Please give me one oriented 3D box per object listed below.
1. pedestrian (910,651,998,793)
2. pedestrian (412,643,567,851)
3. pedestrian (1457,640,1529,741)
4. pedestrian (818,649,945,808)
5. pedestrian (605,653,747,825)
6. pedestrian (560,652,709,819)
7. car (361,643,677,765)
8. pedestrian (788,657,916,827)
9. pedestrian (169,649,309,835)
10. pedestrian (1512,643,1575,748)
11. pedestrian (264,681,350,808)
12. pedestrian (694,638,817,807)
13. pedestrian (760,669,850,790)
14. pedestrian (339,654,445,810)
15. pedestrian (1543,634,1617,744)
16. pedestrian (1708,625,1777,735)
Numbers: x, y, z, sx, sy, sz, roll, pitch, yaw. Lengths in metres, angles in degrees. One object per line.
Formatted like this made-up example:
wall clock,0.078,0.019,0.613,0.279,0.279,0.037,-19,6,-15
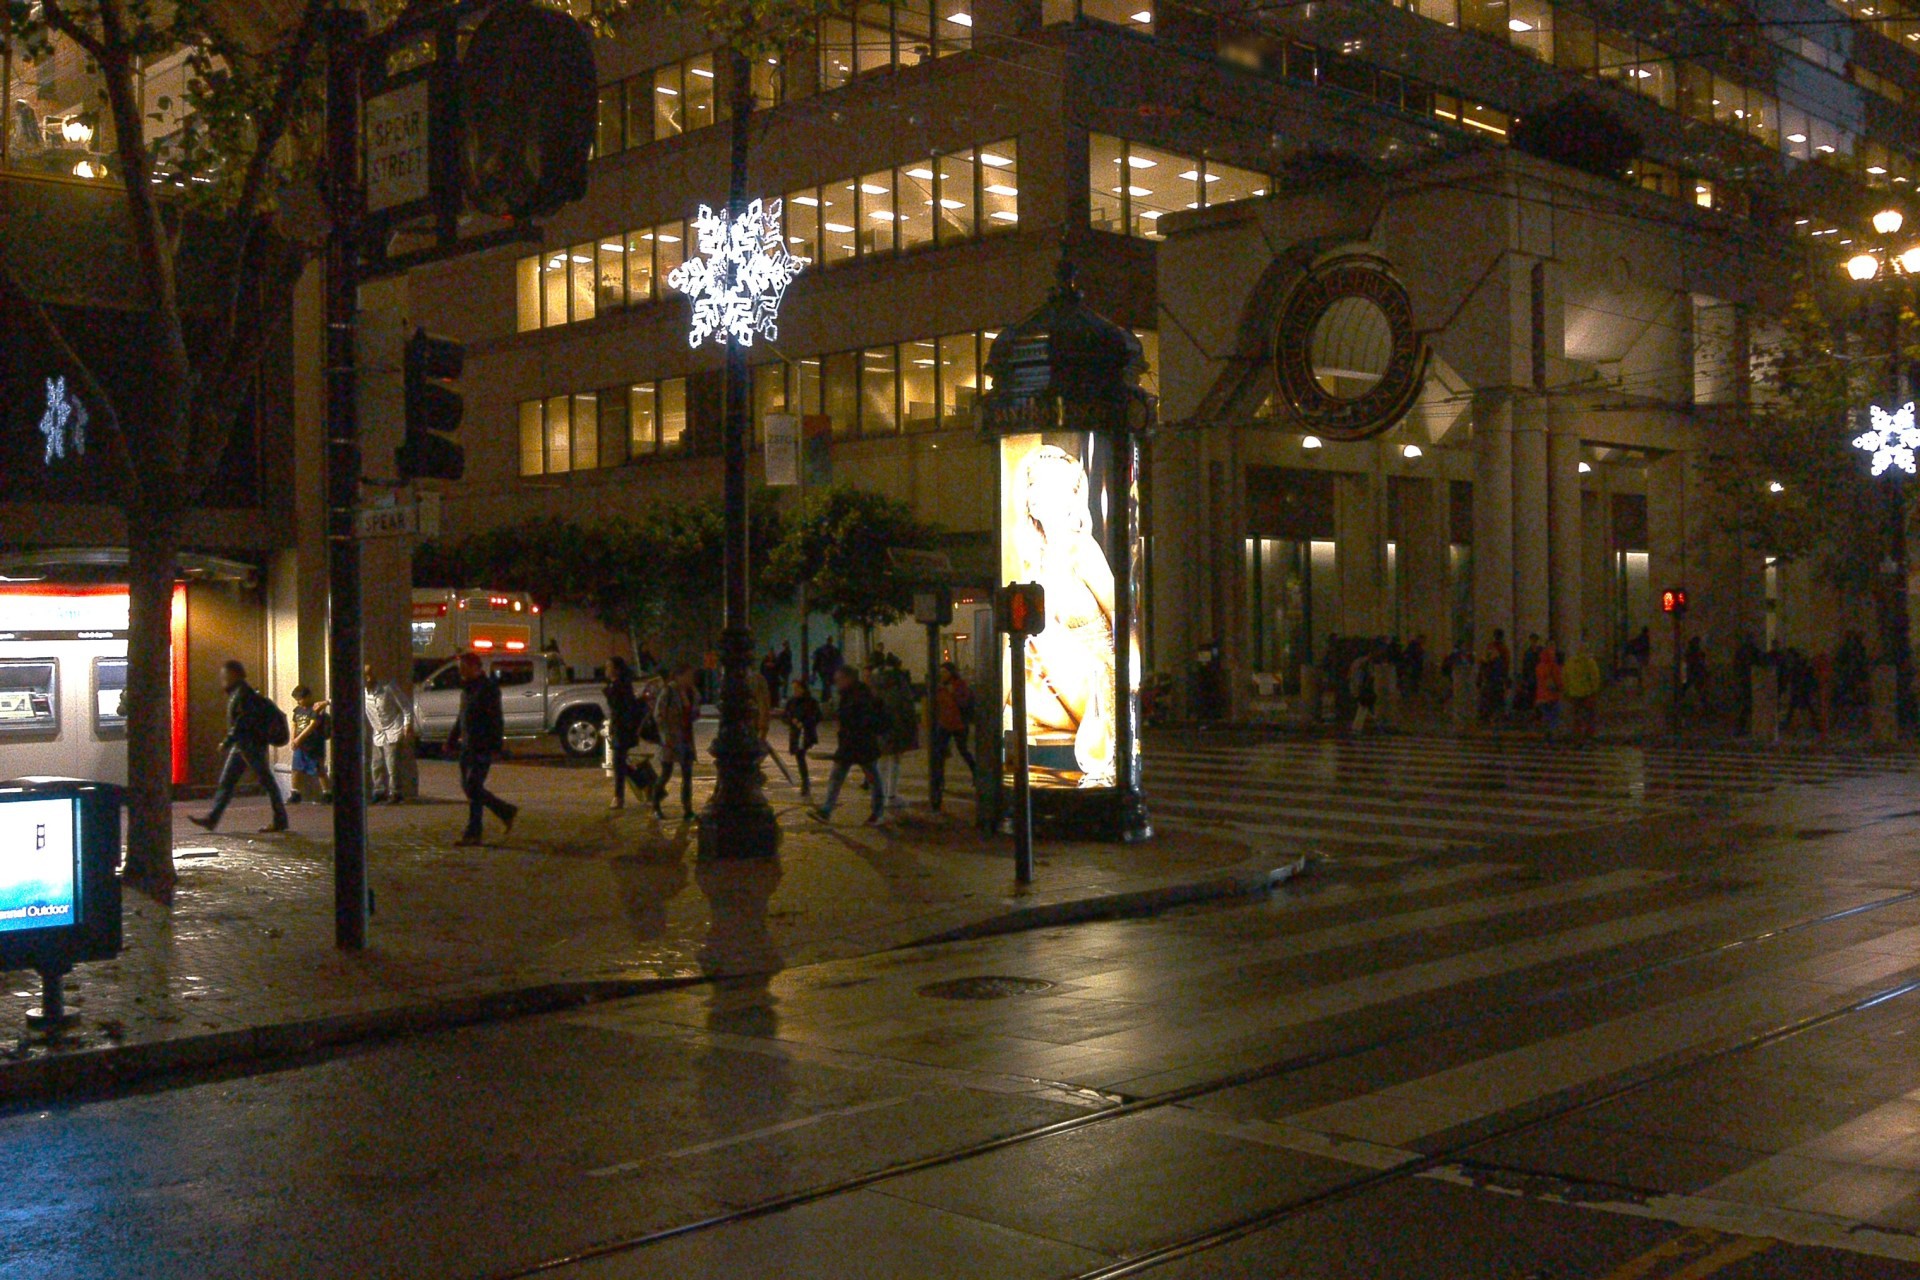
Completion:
pedestrian,-0.079,1.069,27.331,0.842,1.820,0.812,1,1,42
pedestrian,-4.411,0.968,19.262,1.161,1.850,0.837,-1,1,-38
pedestrian,9.645,0.898,37.192,0.987,1.780,0.860,-1,1,-44
pedestrian,-0.892,0.973,23.289,1.120,1.720,0.908,-1,1,-38
pedestrian,-2.954,1.002,21.377,1.115,1.700,0.977,1,1,43
pedestrian,-3.643,1.035,23.014,1.284,1.770,1.035,-1,1,-43
car,-7.378,1.054,34.747,4.910,1.960,1.934,0,1,0
pedestrian,-1.099,1.016,20.975,1.101,1.650,0.699,-1,1,-41
pedestrian,-7.018,0.966,19.989,1.145,1.730,0.839,-1,1,-30
pedestrian,9.854,0.926,34.667,0.934,1.730,0.628,-1,1,-44
pedestrian,-7.177,1.135,22.594,0.646,1.350,0.634,0,1,16
pedestrian,-2.384,0.937,23.988,1.058,1.900,0.963,-1,1,-43
pedestrian,-2.005,1.145,26.573,0.776,1.500,0.879,1,1,34
pedestrian,-6.272,0.996,22.714,0.881,1.670,0.698,0,1,16
pedestrian,10.329,0.799,34.217,0.780,1.780,1.045,1,1,43
pedestrian,13.680,0.686,35.918,0.763,1.880,1.066,1,1,44
